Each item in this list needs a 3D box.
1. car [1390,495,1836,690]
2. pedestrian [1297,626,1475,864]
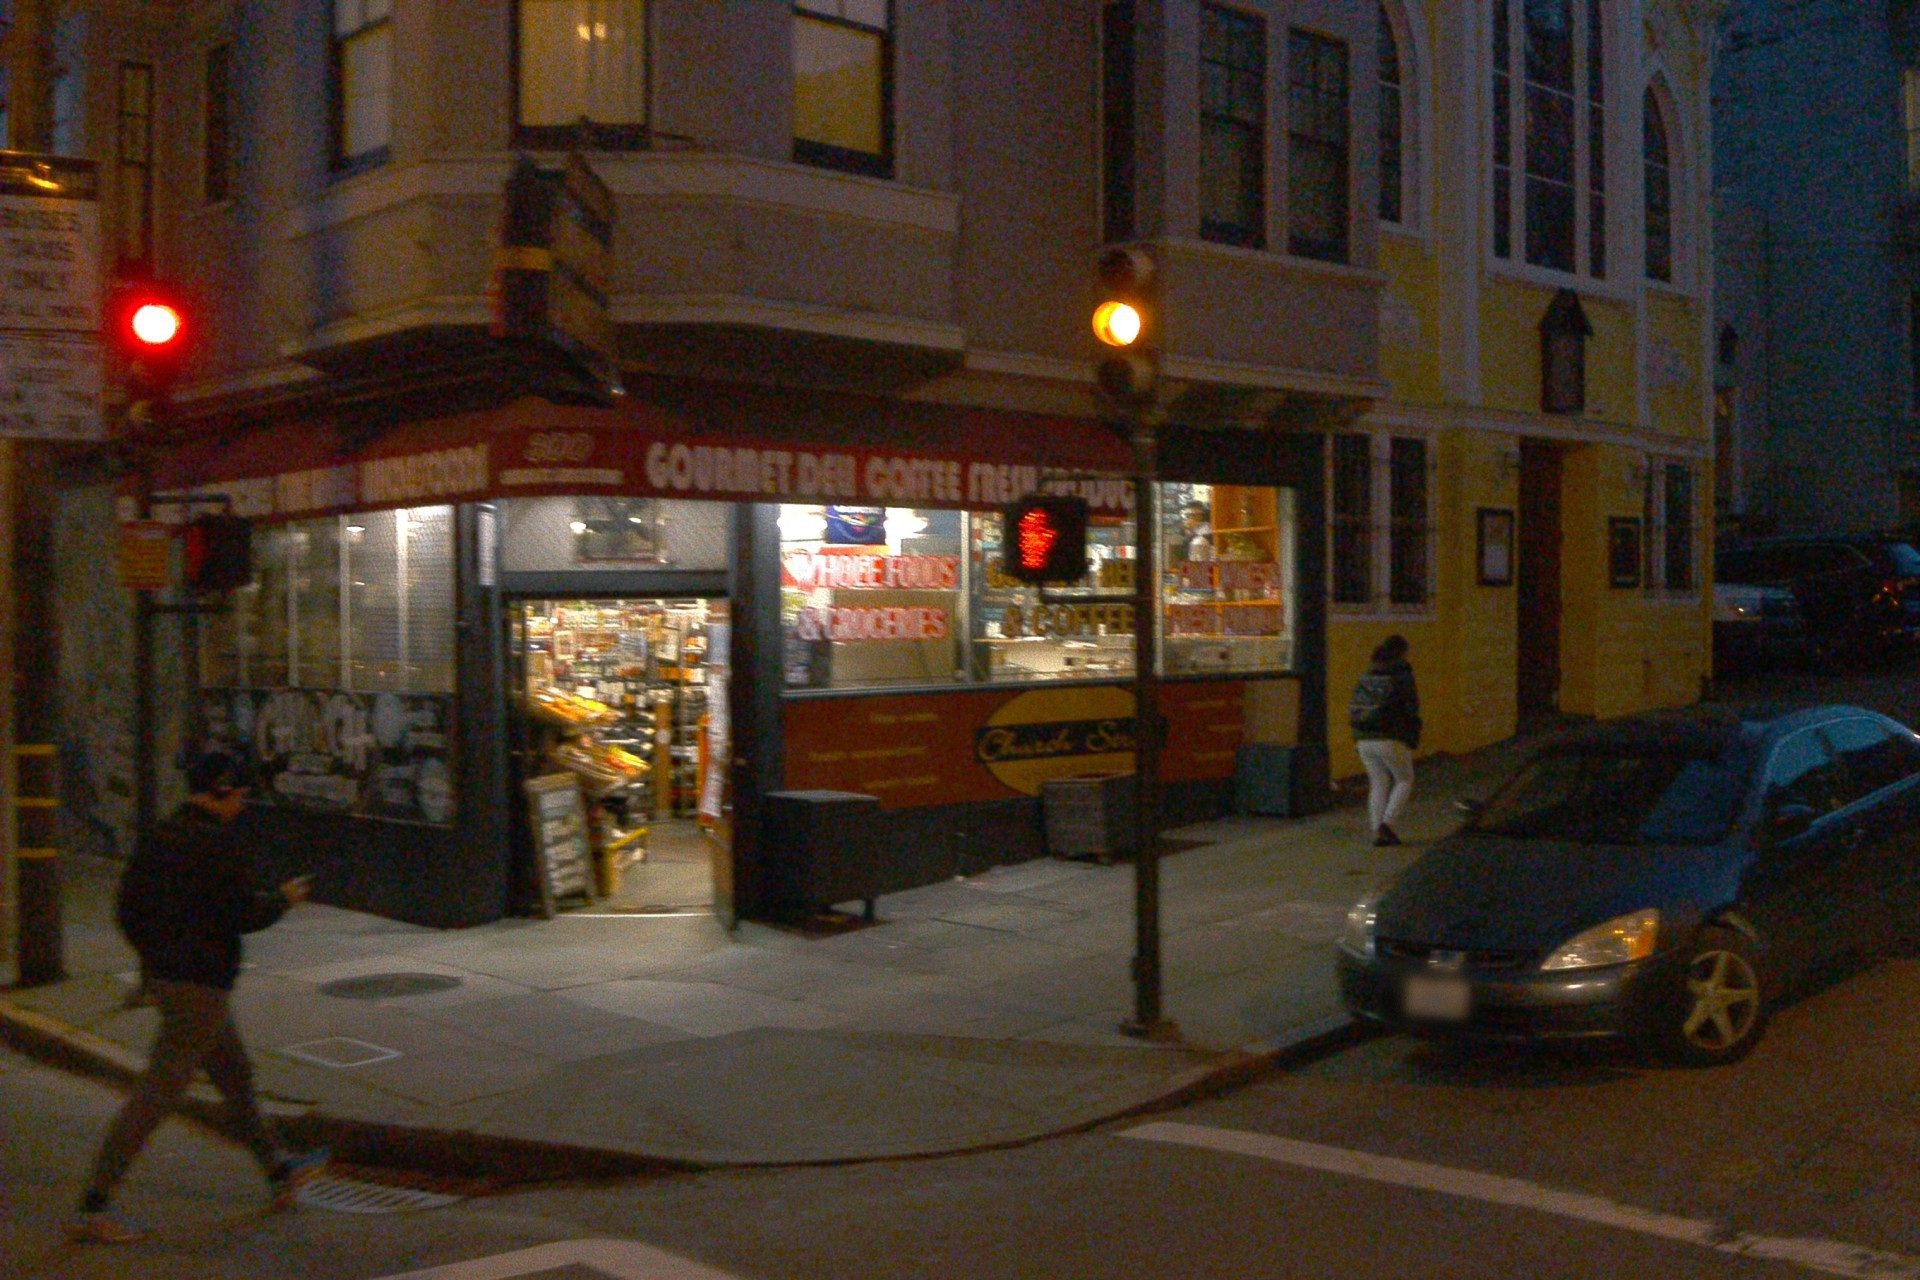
[{"bbox_3d":[7.898,-0.572,25.306,4.793,2.170,2.056,1,1,44],"label":"car"},{"bbox_3d":[3.085,0.724,14.954,0.892,1.640,0.918,-1,1,-45],"label":"pedestrian"}]
